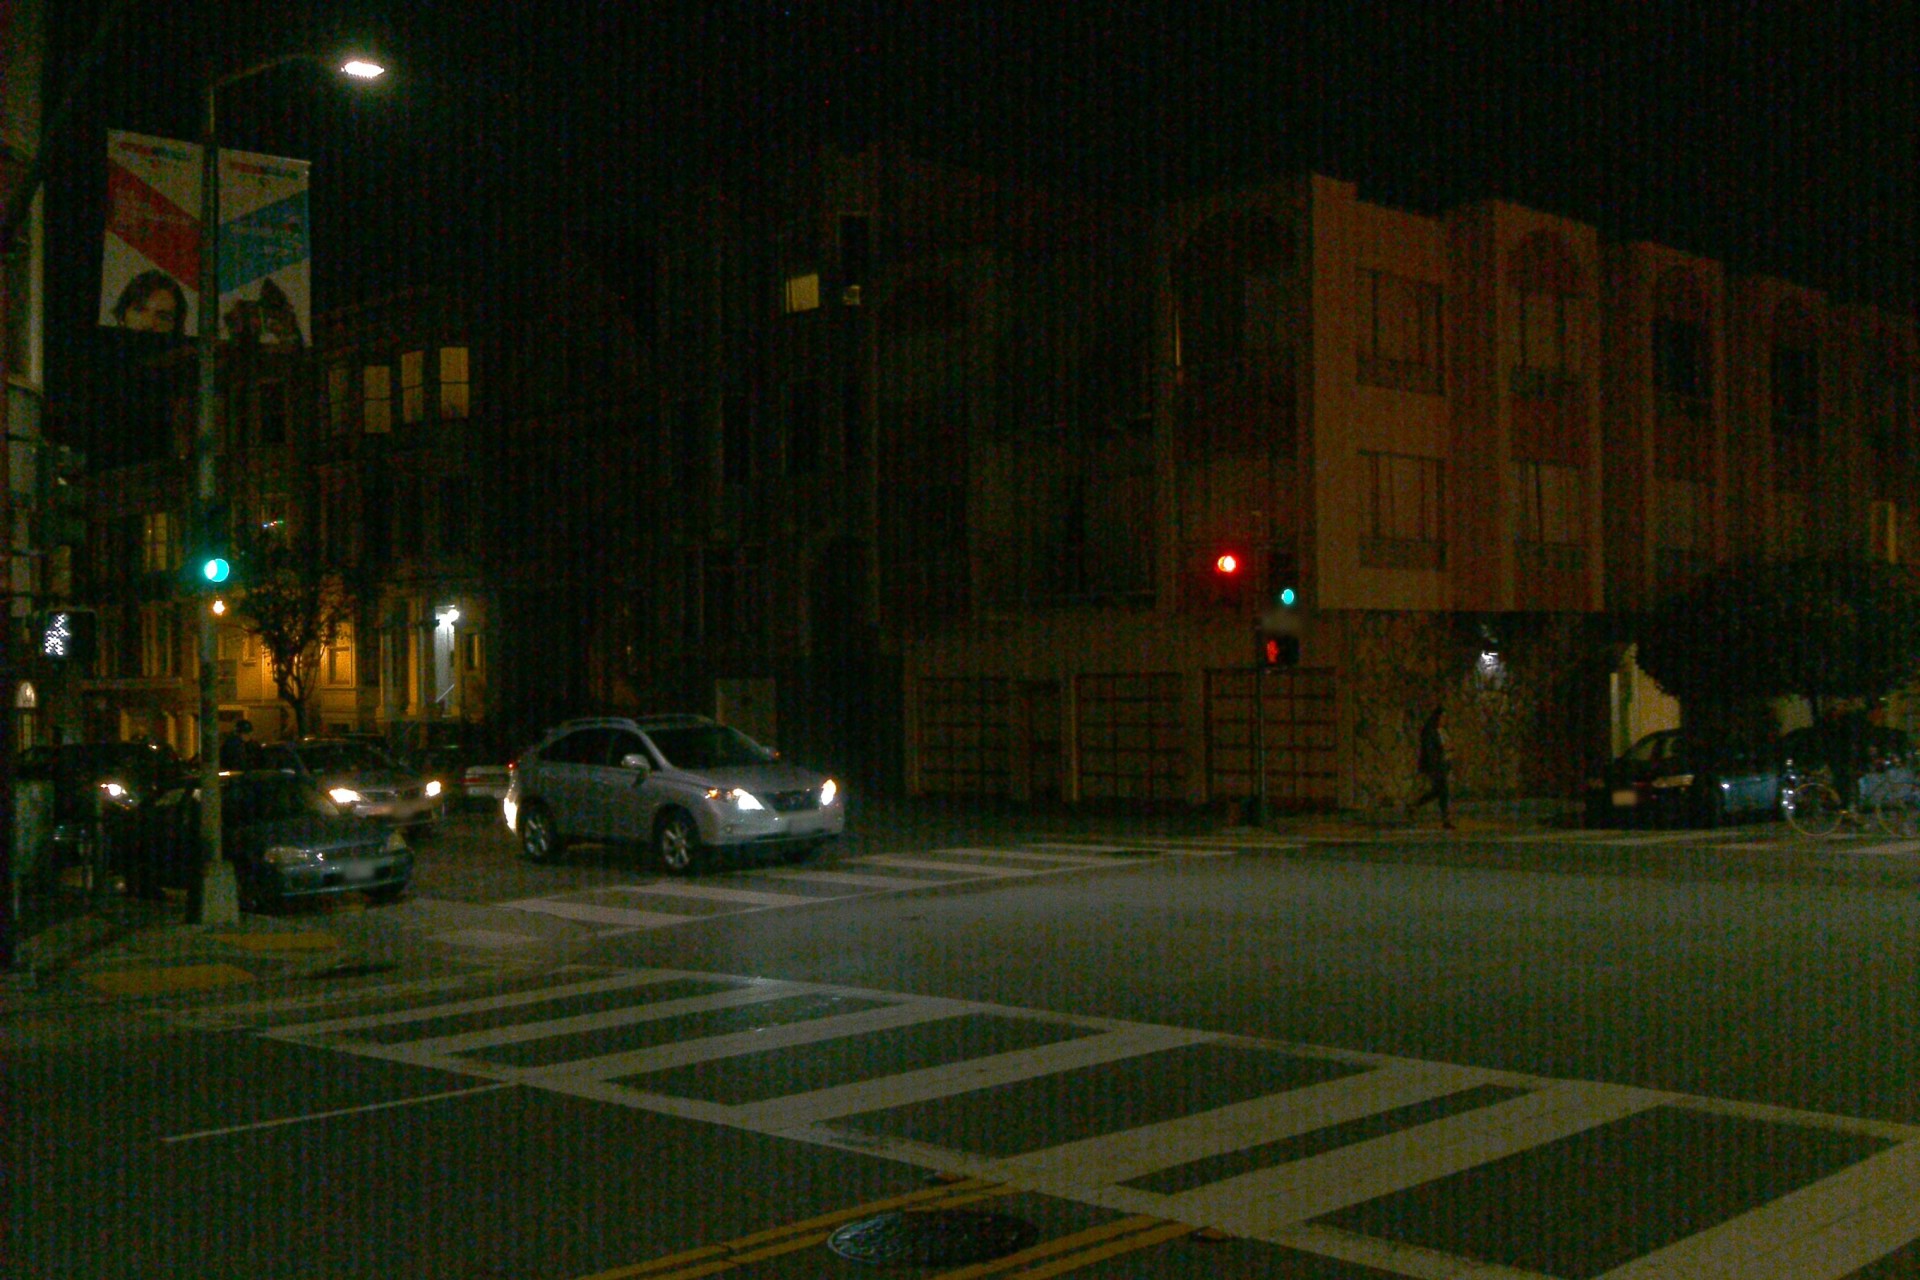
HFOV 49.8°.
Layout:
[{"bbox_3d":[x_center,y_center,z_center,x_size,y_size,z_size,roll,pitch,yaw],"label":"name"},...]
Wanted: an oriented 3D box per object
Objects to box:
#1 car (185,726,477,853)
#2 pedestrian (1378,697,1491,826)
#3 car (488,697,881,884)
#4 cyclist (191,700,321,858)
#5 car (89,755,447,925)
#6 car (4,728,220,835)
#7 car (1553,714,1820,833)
[{"bbox_3d":[-9.130,2.082,29.799,4.459,1.450,2.125,1,0,44],"label":"car"},{"bbox_3d":[6.550,1.659,28.549,1.175,1.690,0.935,1,0,44],"label":"pedestrian"},{"bbox_3d":[-3.277,1.629,23.902,2.139,1.760,4.613,1,0,-44],"label":"car"},{"bbox_3d":[-9.043,1.744,26.498,0.832,1.870,1.925,1,0,-43],"label":"cyclist"},{"bbox_3d":[-7.493,2.053,22.148,1.946,1.350,4.278,1,0,-44],"label":"car"},{"bbox_3d":[-14.735,2.391,35.783,2.021,1.480,4.494,1,0,-42],"label":"car"},{"bbox_3d":[10.596,1.870,29.954,1.967,1.430,4.633,1,0,42],"label":"car"}]
